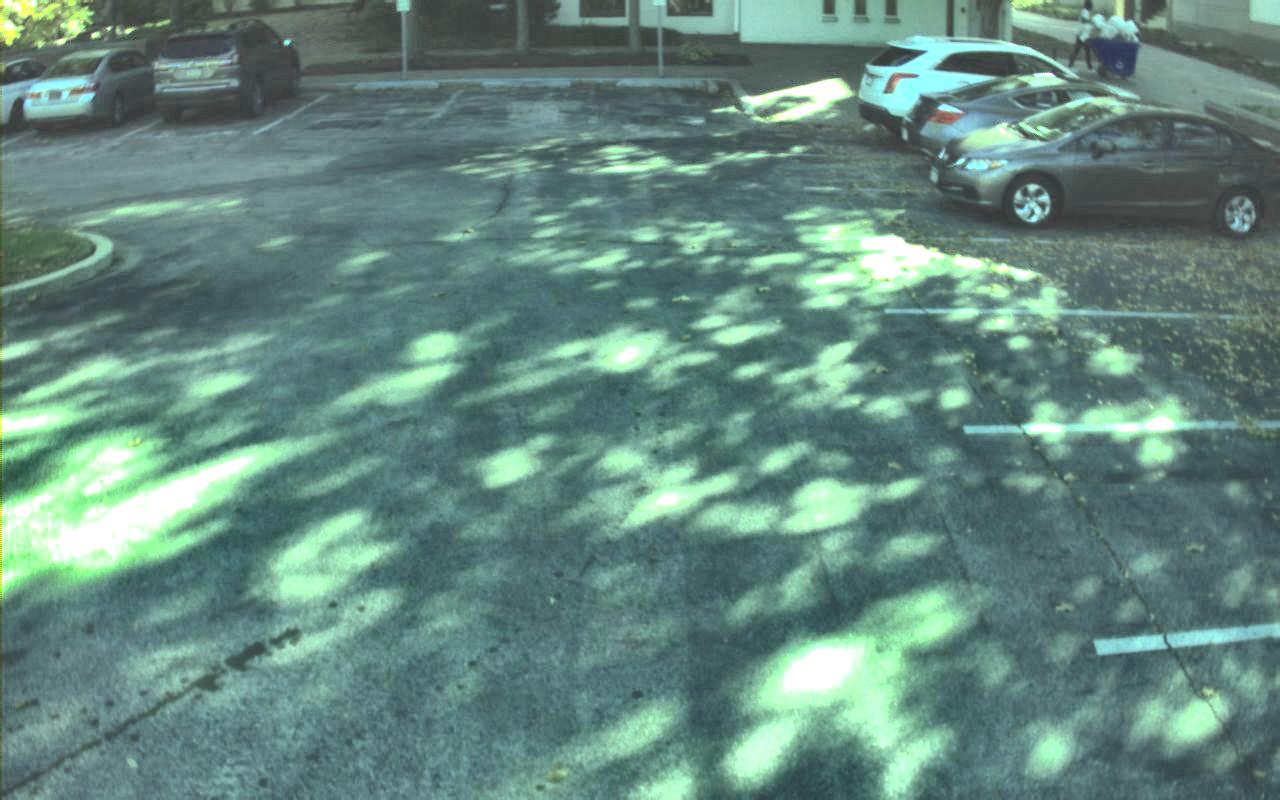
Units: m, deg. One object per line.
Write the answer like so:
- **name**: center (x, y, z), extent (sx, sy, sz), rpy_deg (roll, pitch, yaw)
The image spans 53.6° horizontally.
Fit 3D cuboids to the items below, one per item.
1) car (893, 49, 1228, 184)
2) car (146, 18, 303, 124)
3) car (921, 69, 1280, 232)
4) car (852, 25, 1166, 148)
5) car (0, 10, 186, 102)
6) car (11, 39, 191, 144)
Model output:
- **car**: center (5.618, -3.792, 15.815), extent (4.292, 1.530, 1.919), rpy_deg (-1, 16, -1)
- **car**: center (-7.836, -6.320, 22.381), extent (2.007, 1.700, 4.629), rpy_deg (-2, 17, -4)
- **car**: center (5.657, -2.909, 13.561), extent (4.637, 1.548, 1.979), rpy_deg (-1, 16, 0)
- **car**: center (5.635, -4.797, 18.197), extent (4.583, 1.663, 1.988), rpy_deg (-2, 16, -3)
- **car**: center (-13.554, -8.334, 27.320), extent (4.712, 1.691, 2.031), rpy_deg (-2, 16, -4)
- **car**: center (-10.467, -6.043, 22.115), extent (1.957, 1.606, 4.501), rpy_deg (-1, 17, 2)
